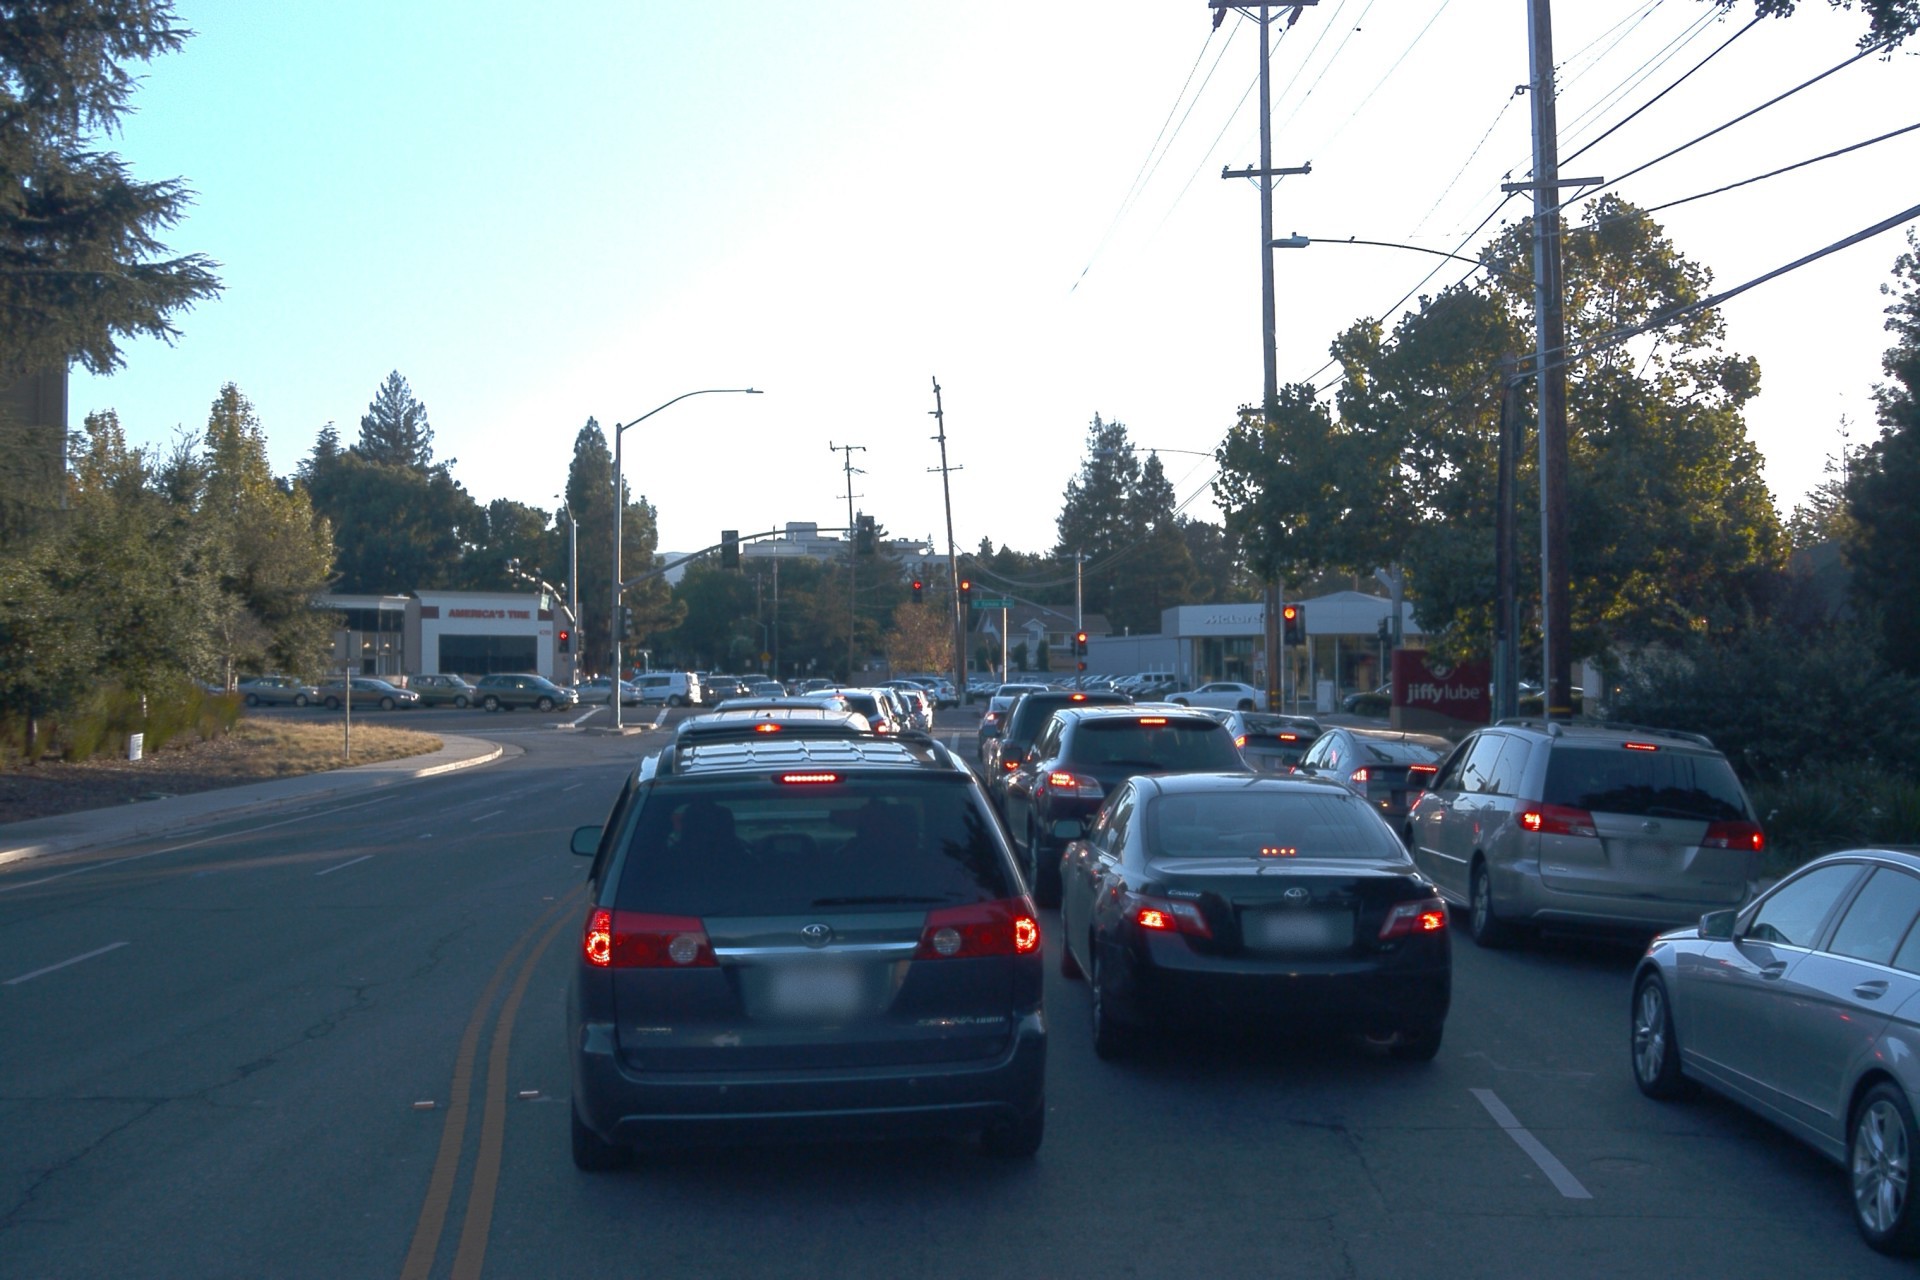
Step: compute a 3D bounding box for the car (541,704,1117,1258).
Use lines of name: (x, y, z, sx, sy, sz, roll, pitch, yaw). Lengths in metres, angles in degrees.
car: (-0.875, 1.305, 10.238, 2.102, 1.830, 5.461, 0, 0, -9)

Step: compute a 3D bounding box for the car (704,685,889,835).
car: (-1.862, 1.359, 24.685, 1.760, 1.570, 3.956, 0, 0, 2)

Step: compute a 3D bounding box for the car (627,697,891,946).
car: (-1.456, 1.307, 16.303, 1.812, 1.620, 4.042, 0, 0, -2)

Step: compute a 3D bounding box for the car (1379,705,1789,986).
car: (4.903, 1.525, 17.100, 2.061, 1.850, 4.903, 0, 0, 2)

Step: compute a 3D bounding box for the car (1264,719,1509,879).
car: (4.676, 1.711, 23.272, 1.785, 1.510, 4.026, 0, 0, -2)

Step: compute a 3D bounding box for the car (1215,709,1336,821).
car: (4.670, 1.825, 30.934, 1.418, 1.490, 3.138, 0, 0, 2)

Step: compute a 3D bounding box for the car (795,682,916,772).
car: (-1.660, 1.381, 33.817, 1.709, 1.350, 3.337, 0, 0, 2)

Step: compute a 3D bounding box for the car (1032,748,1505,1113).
car: (1.529, 1.479, 11.982, 1.915, 1.490, 4.528, 0, 0, -2)

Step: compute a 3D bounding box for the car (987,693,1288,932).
car: (1.458, 1.435, 18.841, 1.992, 1.810, 4.553, 0, 0, -5)

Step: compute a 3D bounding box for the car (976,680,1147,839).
car: (1.186, 1.419, 25.823, 1.759, 1.770, 3.957, 0, 0, -3)
